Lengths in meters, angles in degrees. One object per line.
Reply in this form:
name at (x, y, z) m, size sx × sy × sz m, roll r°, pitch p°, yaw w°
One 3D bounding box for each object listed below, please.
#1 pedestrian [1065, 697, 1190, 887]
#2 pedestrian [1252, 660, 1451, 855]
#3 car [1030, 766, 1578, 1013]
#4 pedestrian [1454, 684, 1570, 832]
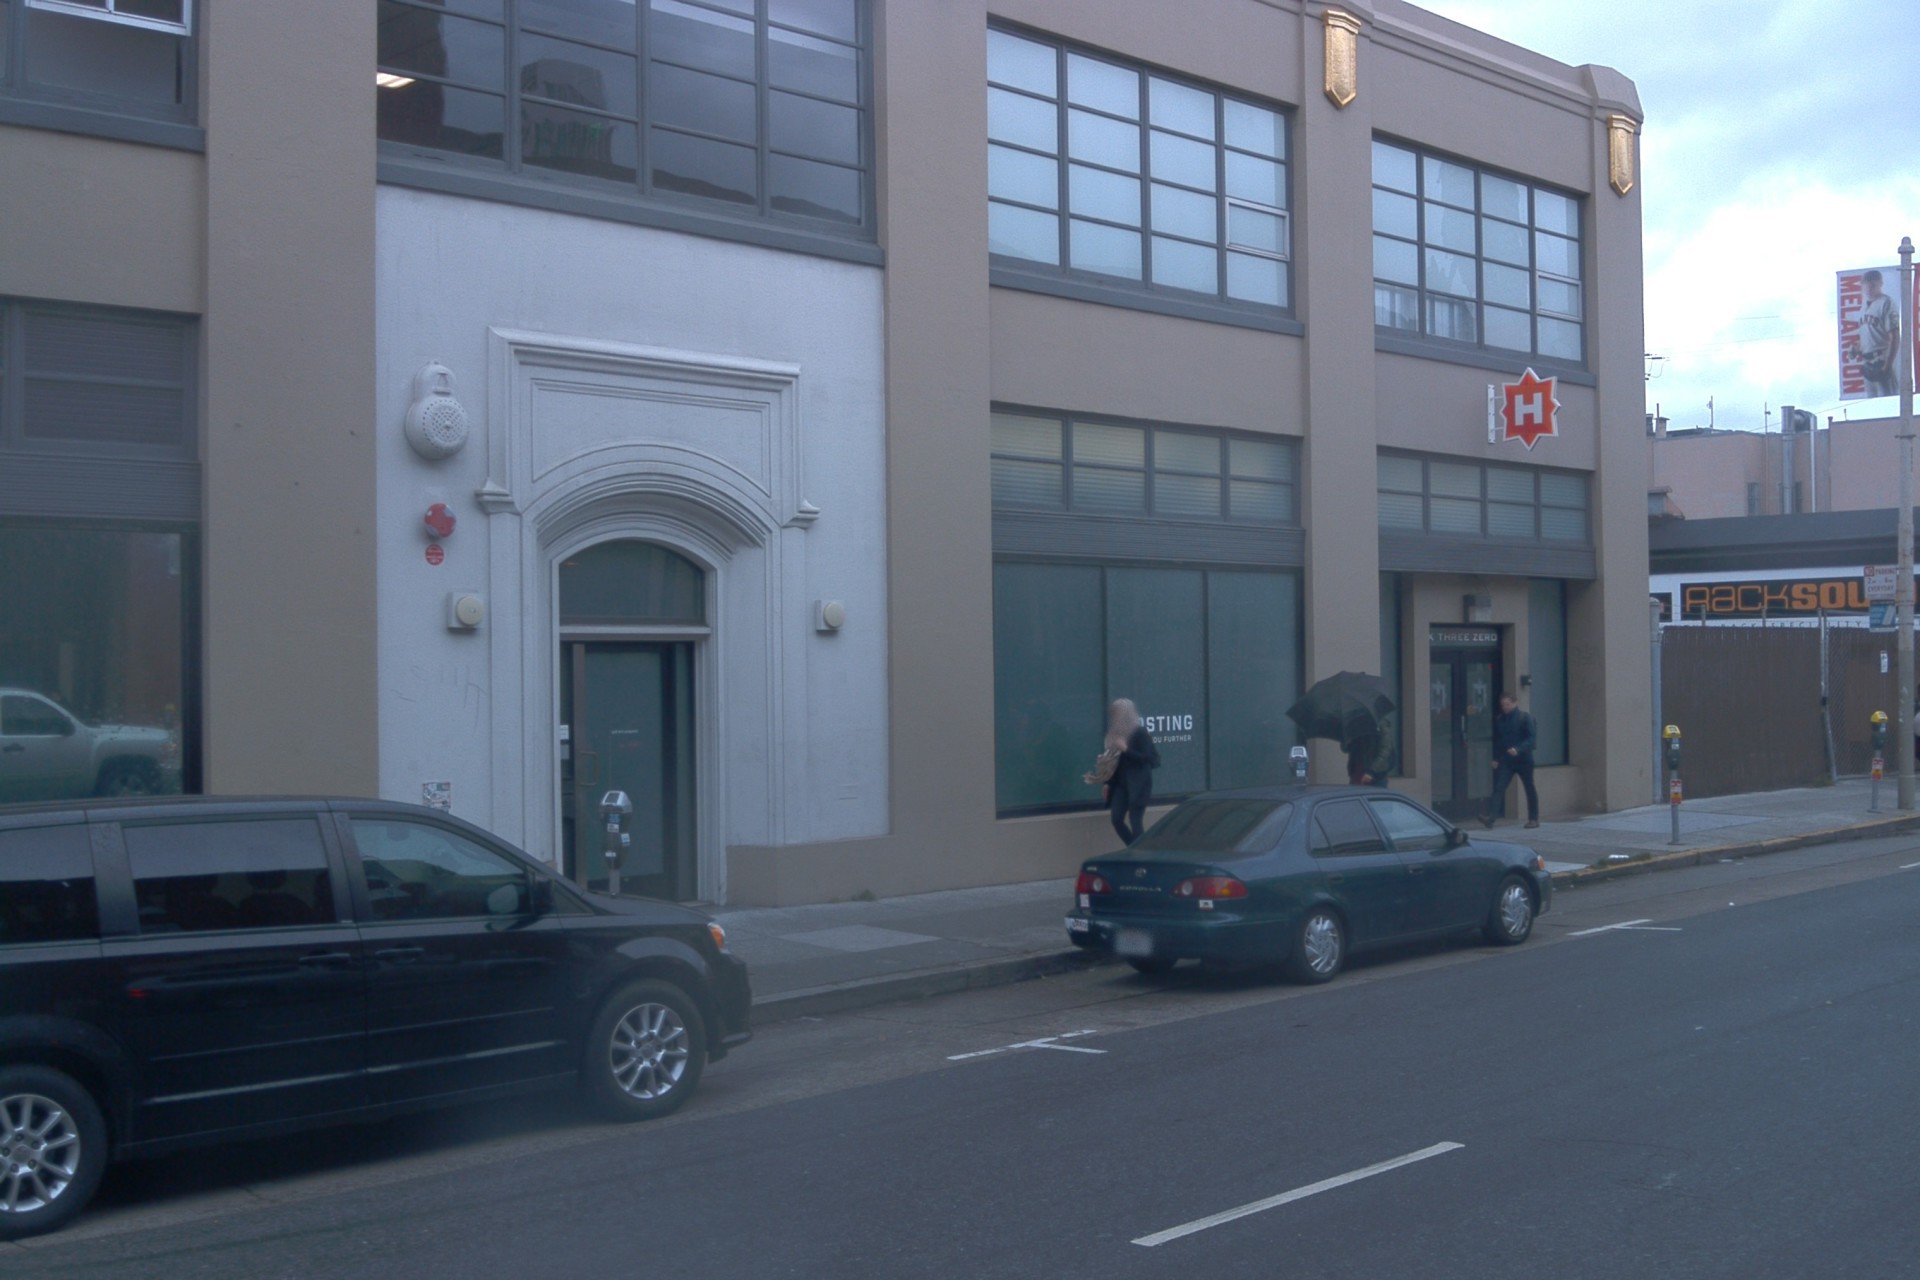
pedestrian at (1.602, 1.427, 19.907) m, size 0.841 × 1.740 × 0.852 m, roll 0°, pitch 0°, yaw 44°
pedestrian at (4.153, 1.197, 22.069) m, size 1.495 × 1.950 × 1.513 m, roll 0°, pitch 0°, yaw 43°
car at (2.679, 1.734, 15.508) m, size 4.350 × 1.328 × 1.799 m, roll 0°, pitch 0°, yaw -44°
pedestrian at (6.638, 1.394, 25.011) m, size 1.083 × 1.708 × 0.924 m, roll 0°, pitch 0°, yaw -45°
